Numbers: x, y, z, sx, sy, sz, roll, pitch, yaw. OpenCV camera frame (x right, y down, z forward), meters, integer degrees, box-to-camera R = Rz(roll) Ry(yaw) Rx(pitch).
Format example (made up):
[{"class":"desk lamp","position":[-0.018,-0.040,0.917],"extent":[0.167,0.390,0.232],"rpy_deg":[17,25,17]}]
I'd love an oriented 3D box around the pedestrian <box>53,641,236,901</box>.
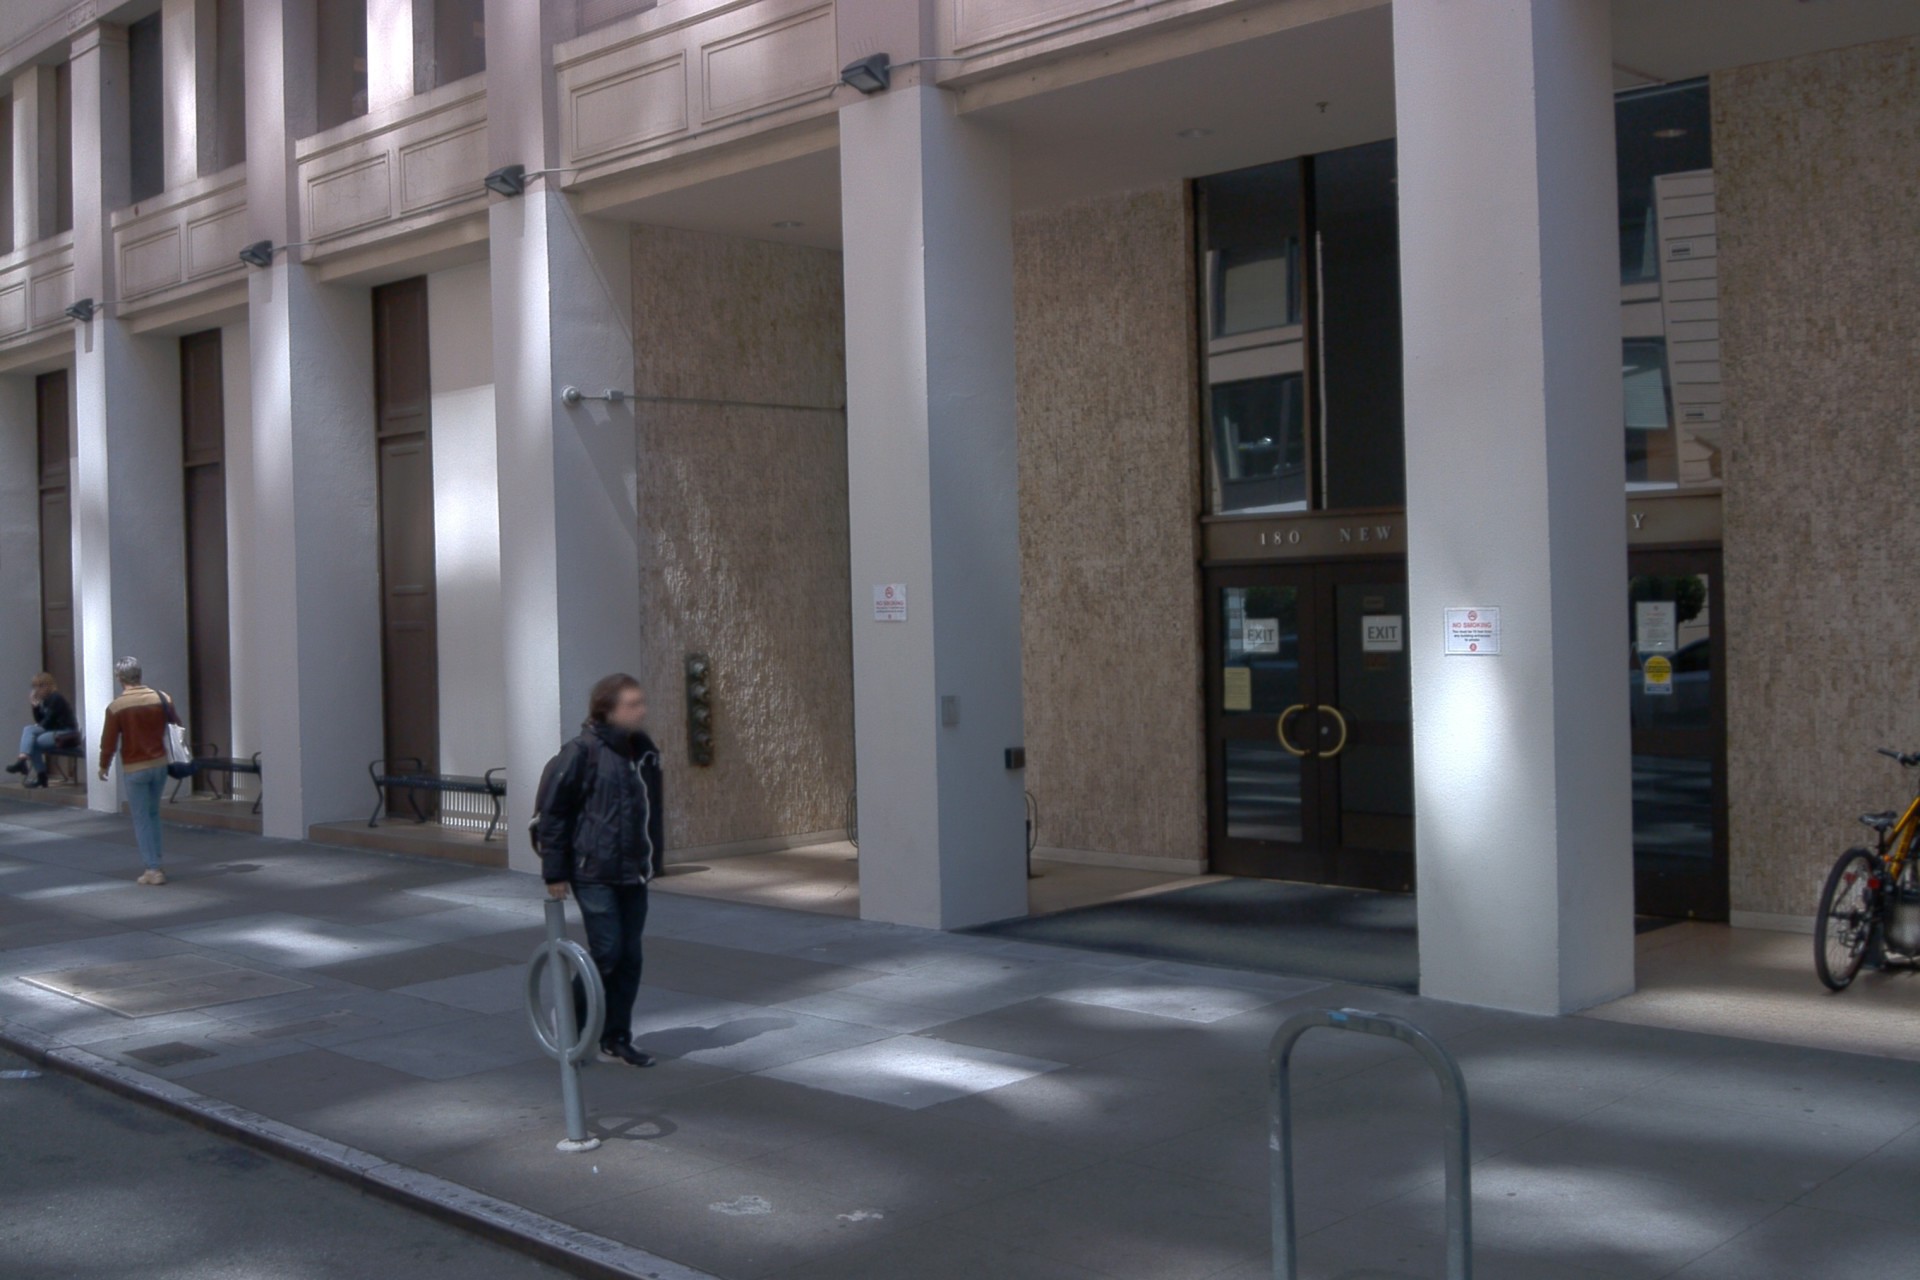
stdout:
[{"class":"pedestrian","position":[-6.136,0.939,15.462],"extent":[1.146,1.846,0.893],"rpy_deg":[0,0,45]}]

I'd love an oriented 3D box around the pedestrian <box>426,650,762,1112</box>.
[{"class":"pedestrian","position":[-1.632,0.998,9.182],"extent":[1.192,1.886,0.893],"rpy_deg":[0,0,35]}]
